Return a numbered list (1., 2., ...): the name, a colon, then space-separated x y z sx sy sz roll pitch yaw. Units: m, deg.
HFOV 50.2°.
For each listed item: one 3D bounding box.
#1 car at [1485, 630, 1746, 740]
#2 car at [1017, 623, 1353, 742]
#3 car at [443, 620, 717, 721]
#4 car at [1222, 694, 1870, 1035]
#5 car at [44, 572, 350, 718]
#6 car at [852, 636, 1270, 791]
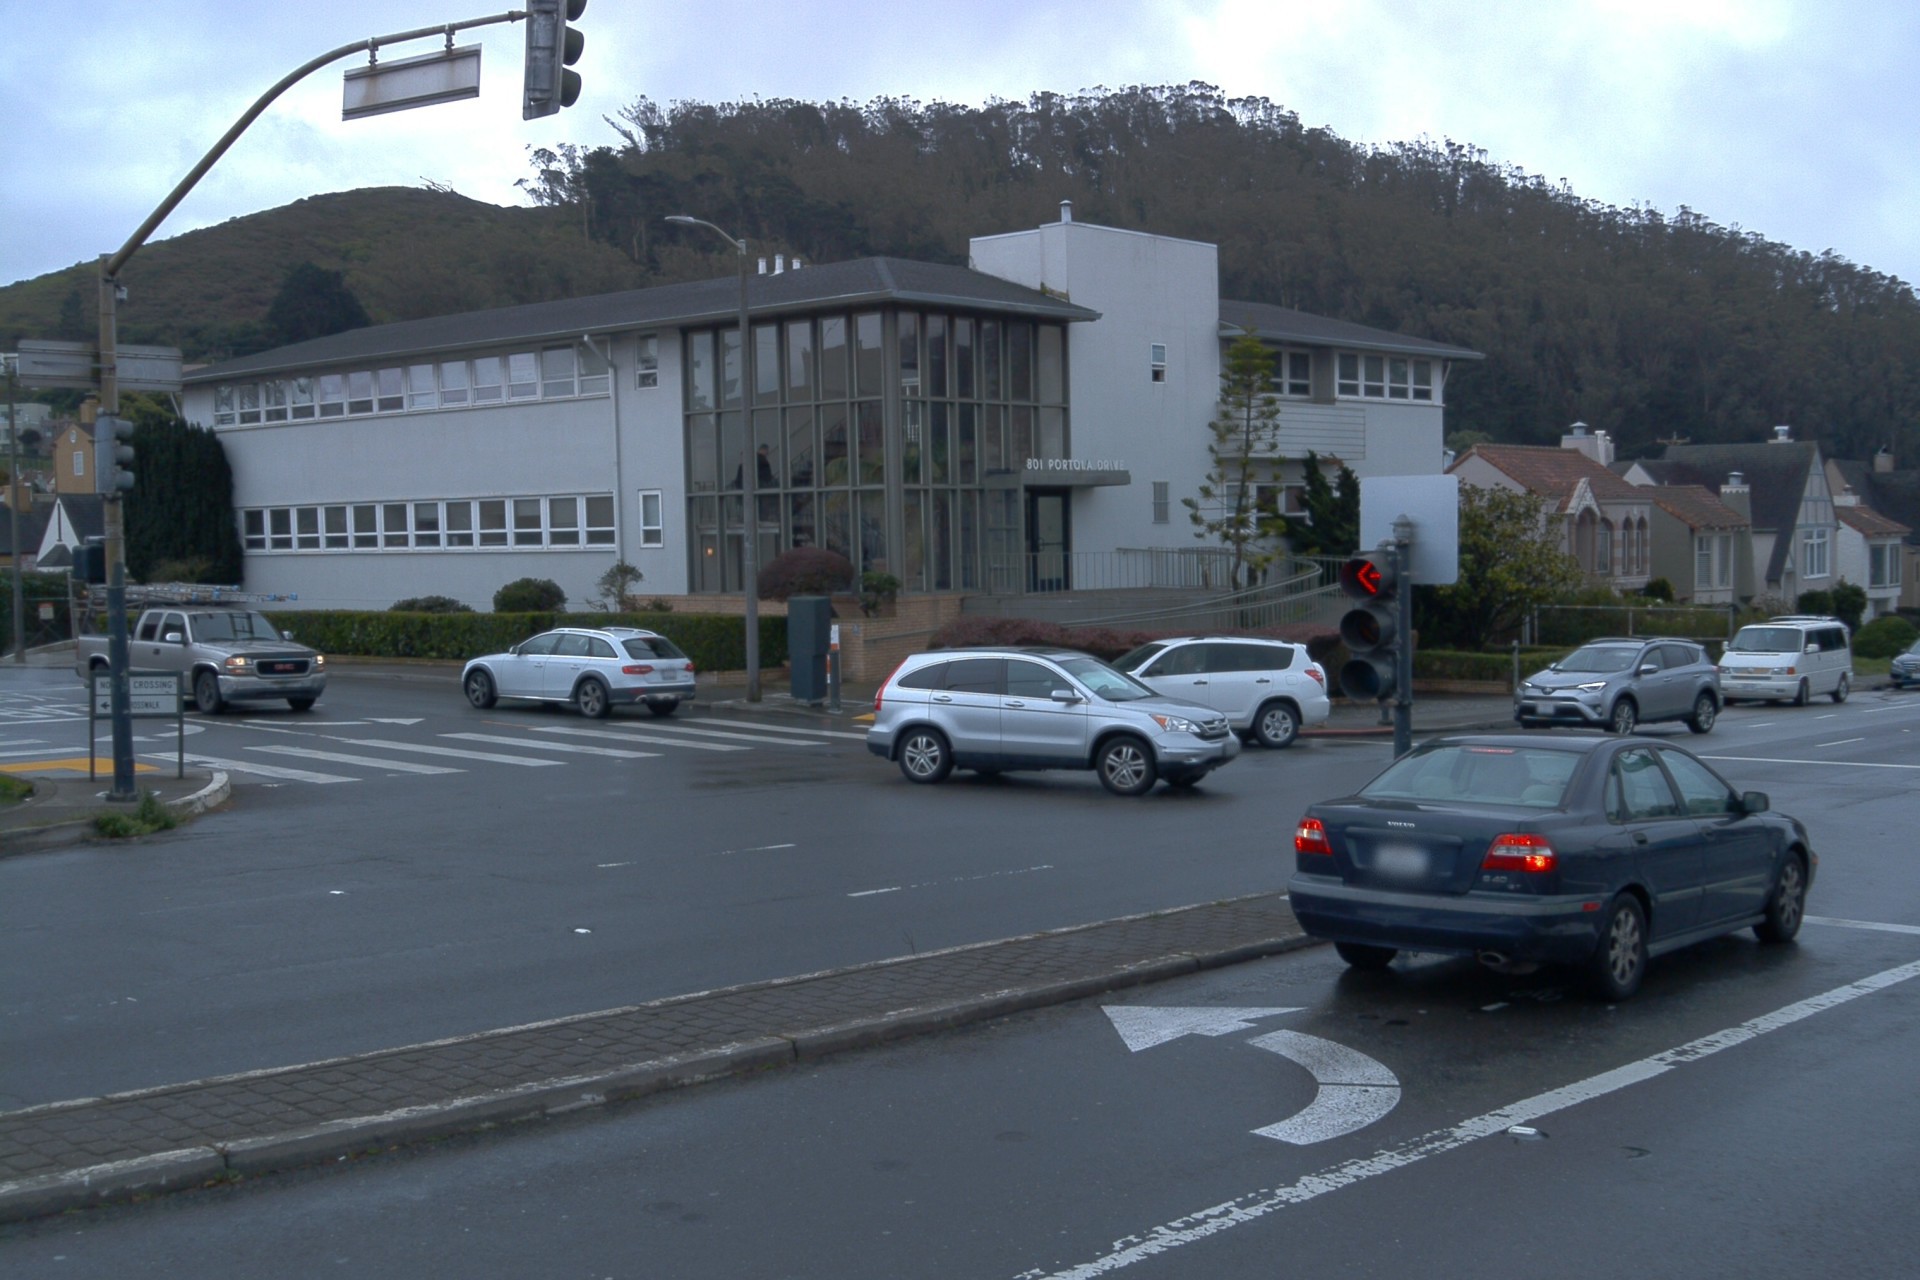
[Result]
1. car: 11.332 0.716 35.307 4.665 1.740 2.196 0 1 -42
2. car: 3.450 0.621 31.772 4.742 1.740 2.051 0 1 -14
3. car: -6.631 0.476 35.572 4.648 1.610 2.070 1 1 37
4. car: 3.632 1.154 12.220 1.961 1.500 4.296 1 1 43
5. car: -13.425 0.036 35.872 5.959 2.350 2.439 1 1 41
6. car: 1.200 0.805 24.771 4.558 1.660 2.153 1 1 30
